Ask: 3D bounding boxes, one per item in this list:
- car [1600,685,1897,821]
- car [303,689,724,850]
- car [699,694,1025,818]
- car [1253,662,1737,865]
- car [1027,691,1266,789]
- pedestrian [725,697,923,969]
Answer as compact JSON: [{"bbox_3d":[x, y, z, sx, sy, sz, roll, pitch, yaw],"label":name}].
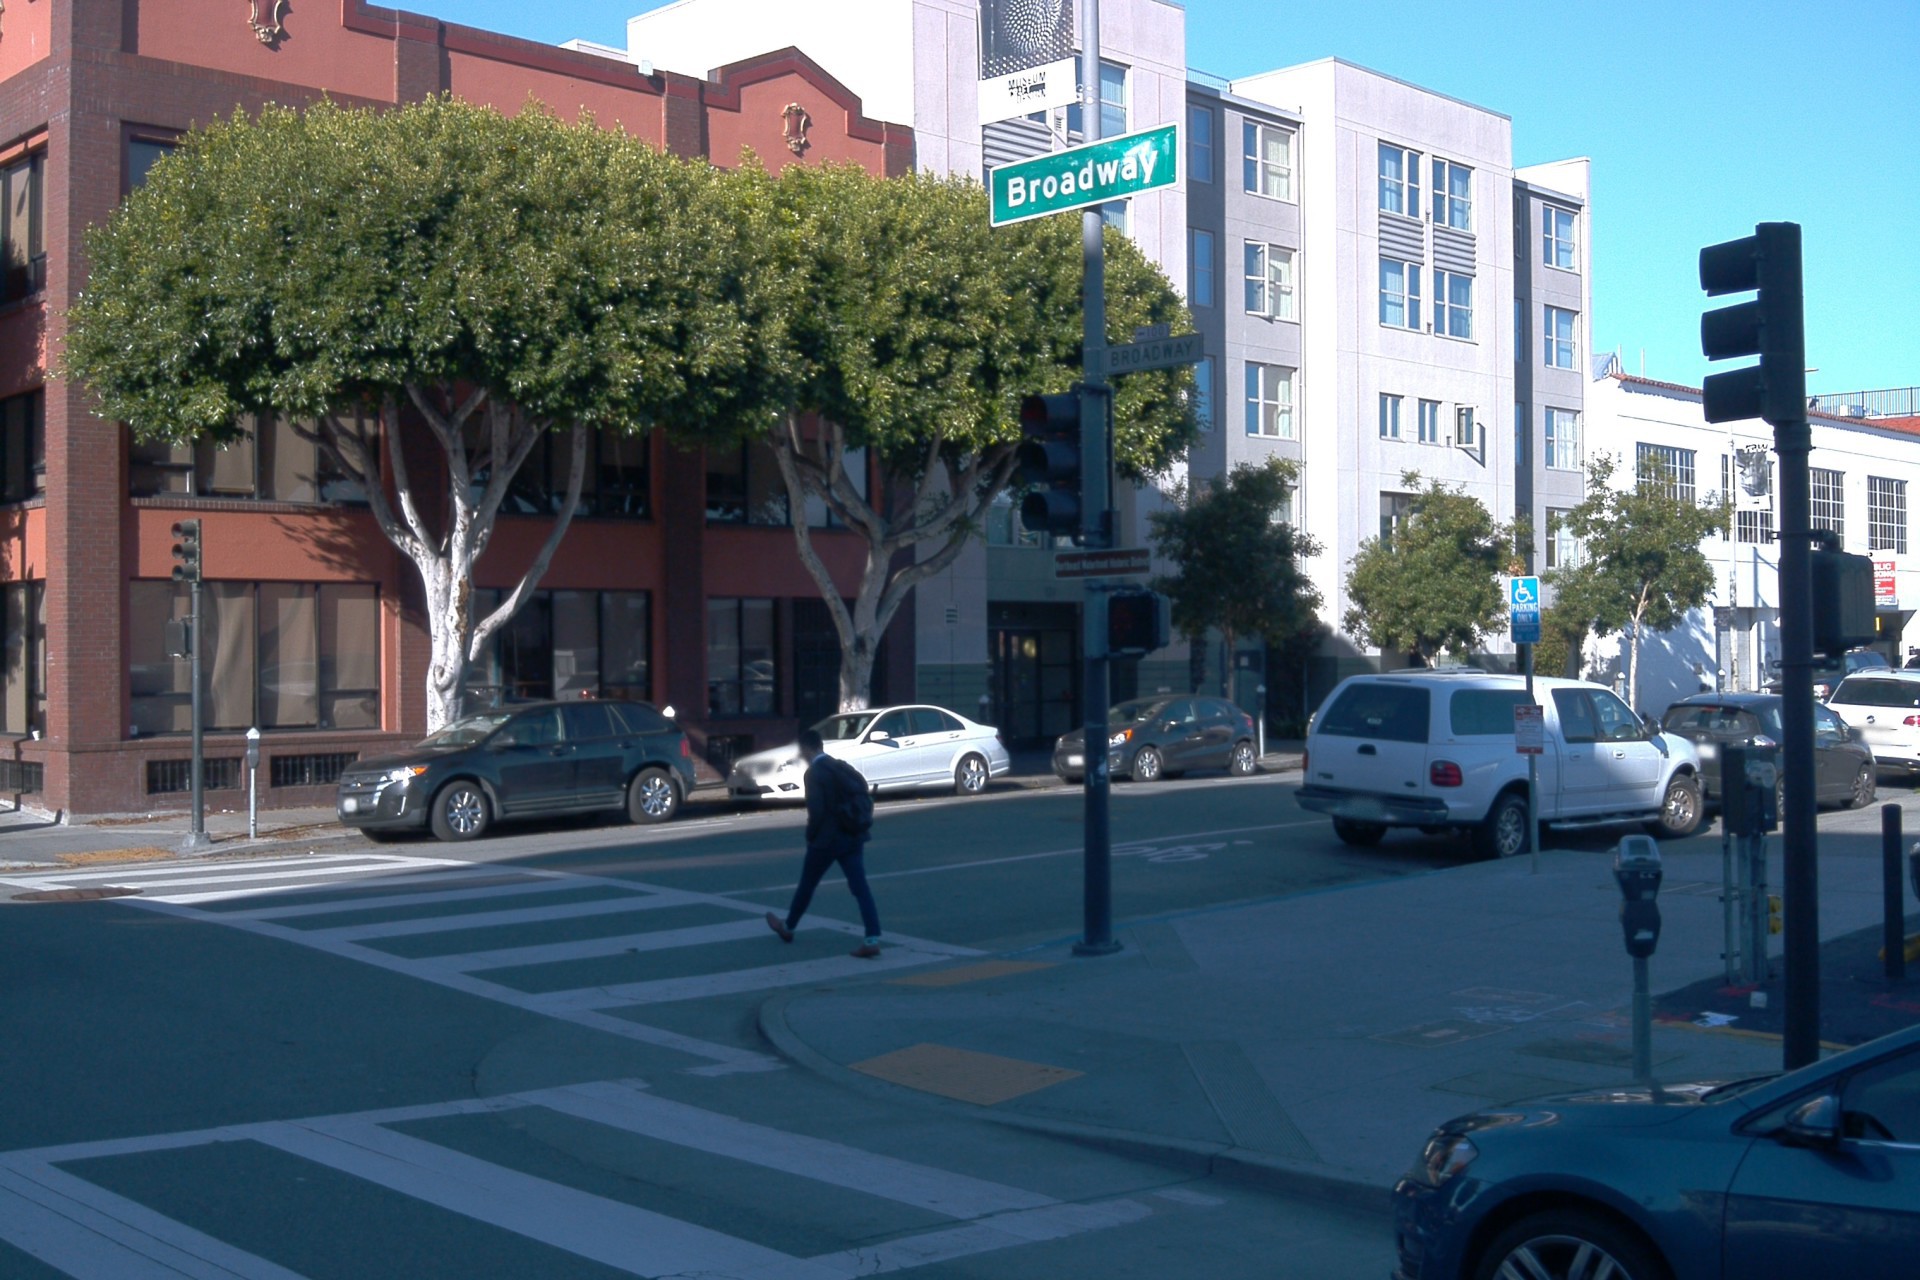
[{"bbox_3d":[10.052,1.358,26.452,4.052,1.540,2.023,1,0,-45],"label":"car"},{"bbox_3d":[-5.583,1.550,26.539,2.184,1.790,4.813,0,0,45],"label":"car"},{"bbox_3d":[-1.380,1.645,30.815,4.602,1.620,2.045,1,0,-44],"label":"car"},{"bbox_3d":[5.967,1.221,22.777,5.715,1.920,2.394,1,0,-43],"label":"car"},{"bbox_3d":[3.195,1.646,35.270,3.894,1.500,1.962,1,0,-45],"label":"car"},{"bbox_3d":[-1.024,1.389,15.560,0.828,1.900,1.276,0,0,-44],"label":"pedestrian"}]
